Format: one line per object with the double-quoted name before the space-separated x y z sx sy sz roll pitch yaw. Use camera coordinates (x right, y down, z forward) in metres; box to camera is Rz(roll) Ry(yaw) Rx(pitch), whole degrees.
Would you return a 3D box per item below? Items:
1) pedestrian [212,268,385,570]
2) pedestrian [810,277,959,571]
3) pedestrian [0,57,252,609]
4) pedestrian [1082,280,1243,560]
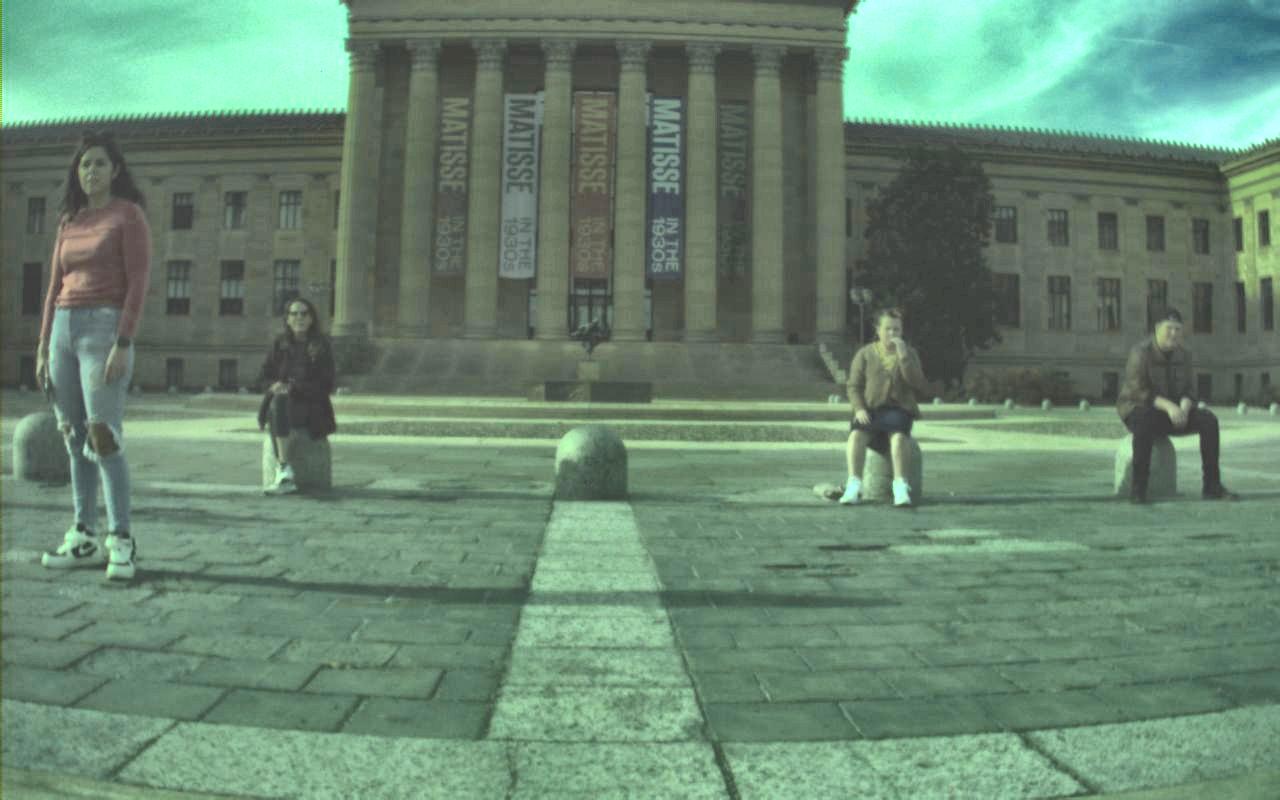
"pedestrian" -2.181 0.110 7.700 0.833 1.782 0.830 0 0 -44
"pedestrian" 1.537 0.145 7.927 0.834 1.773 0.834 0 0 3
"pedestrian" -1.959 -0.227 4.202 0.778 1.804 0.786 1 0 17
"pedestrian" 3.496 0.138 7.856 0.847 1.768 0.851 0 0 -1
